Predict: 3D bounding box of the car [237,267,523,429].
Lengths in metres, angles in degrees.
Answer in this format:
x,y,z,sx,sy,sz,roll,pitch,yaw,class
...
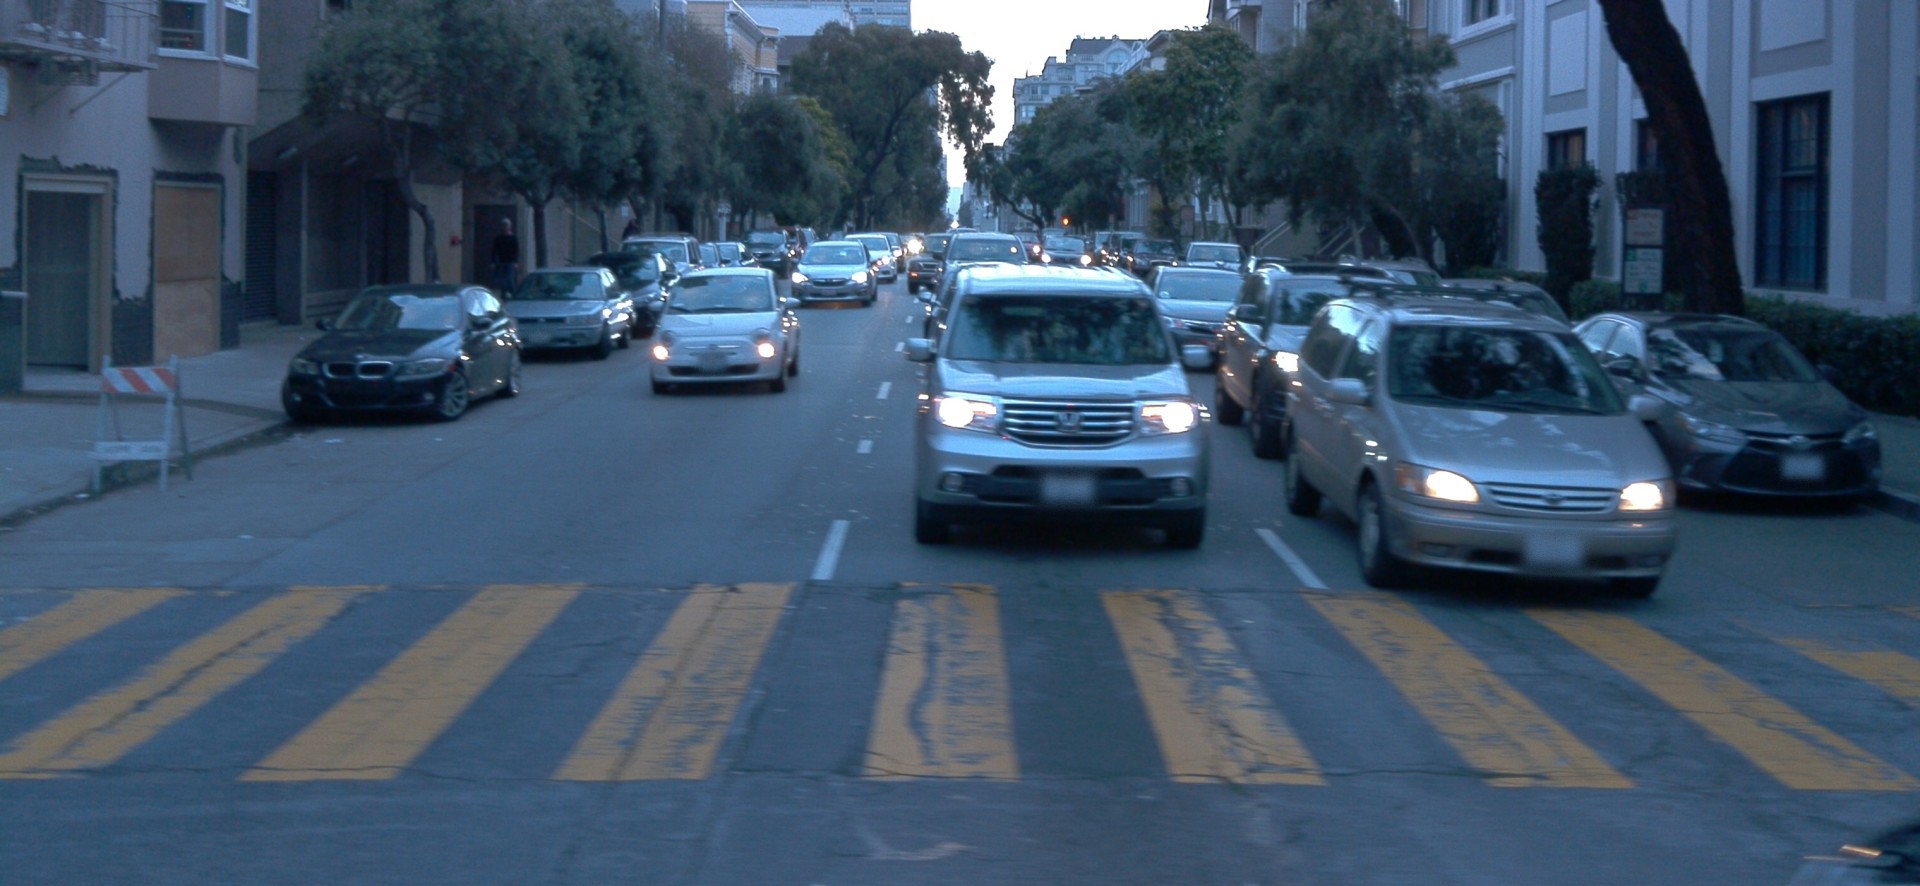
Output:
x,y,z,sx,sy,sz,roll,pitch,yaw,class
-6.381,-1.159,23.190,2.030,1.492,4.515,1,6,-1,car

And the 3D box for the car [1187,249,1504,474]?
x,y,z,sx,sy,sz,roll,pitch,yaw,class
3.618,-0.939,20.329,2.225,1.810,5.017,1,6,1,car

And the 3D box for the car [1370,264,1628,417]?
x,y,z,sx,sy,sz,roll,pitch,yaw,class
6.541,-1.352,25.477,2.113,1.592,4.335,1,6,1,car

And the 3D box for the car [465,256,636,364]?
x,y,z,sx,sy,sz,roll,pitch,yaw,class
-6.214,-2.107,31.662,1.863,1.422,4.269,1,6,-1,car

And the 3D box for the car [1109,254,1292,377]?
x,y,z,sx,sy,sz,roll,pitch,yaw,class
3.478,-1.964,30.621,2.120,1.552,4.647,1,6,-1,car

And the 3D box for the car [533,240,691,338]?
x,y,z,sx,sy,sz,roll,pitch,yaw,class
-6.228,-2.849,37.361,2.117,1.571,4.668,1,6,-1,car

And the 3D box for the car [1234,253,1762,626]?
x,y,z,sx,sy,sz,roll,pitch,yaw,class
3.336,-0.250,13.978,2.235,1.940,5.017,1,6,0,car

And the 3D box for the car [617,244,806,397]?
x,y,z,sx,sy,sz,roll,pitch,yaw,class
-3.025,-1.592,25.684,1.953,1.692,3.529,1,5,-1,car

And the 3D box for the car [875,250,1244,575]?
x,y,z,sx,sy,sz,roll,pitch,yaw,class
0.552,-0.411,15.127,2.265,1.890,4.771,1,6,-2,car

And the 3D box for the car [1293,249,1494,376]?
x,y,z,sx,sy,sz,roll,pitch,yaw,class
6.542,-2.078,31.581,2.149,1.671,4.784,1,6,1,car
